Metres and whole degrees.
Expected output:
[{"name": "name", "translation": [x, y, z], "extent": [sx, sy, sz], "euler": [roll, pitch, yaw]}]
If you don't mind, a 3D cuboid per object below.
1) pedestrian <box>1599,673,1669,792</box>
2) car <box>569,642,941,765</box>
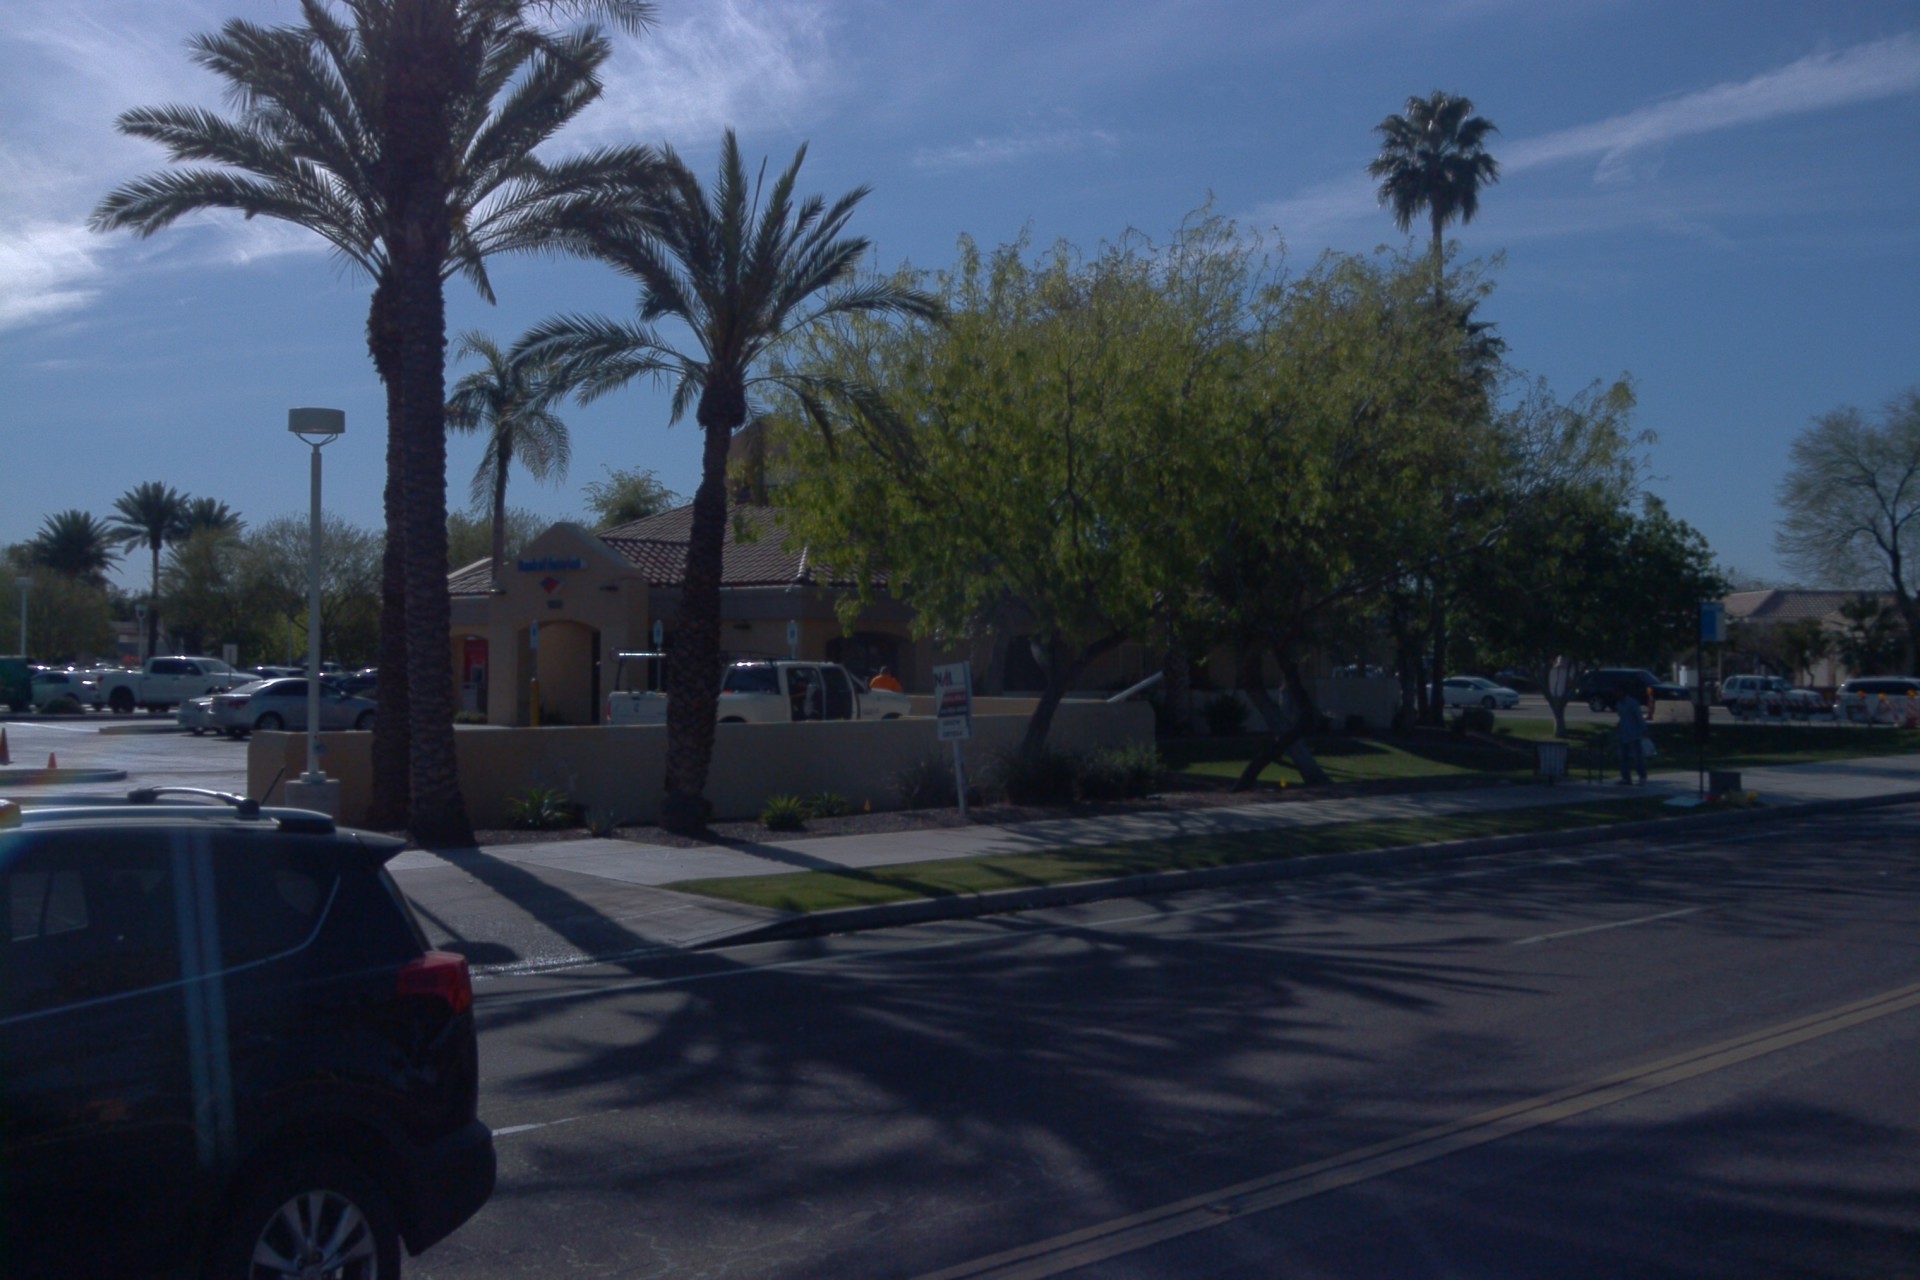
[{"name": "pedestrian", "translation": [11.678, 1.581, 35.849], "extent": [0.876, 2.020, 0.820], "euler": [0, -1, 44]}, {"name": "car", "translation": [-3.675, 1.113, 38.467], "extent": [2.739, 2.090, 6.749], "euler": [0, -1, 43]}]
